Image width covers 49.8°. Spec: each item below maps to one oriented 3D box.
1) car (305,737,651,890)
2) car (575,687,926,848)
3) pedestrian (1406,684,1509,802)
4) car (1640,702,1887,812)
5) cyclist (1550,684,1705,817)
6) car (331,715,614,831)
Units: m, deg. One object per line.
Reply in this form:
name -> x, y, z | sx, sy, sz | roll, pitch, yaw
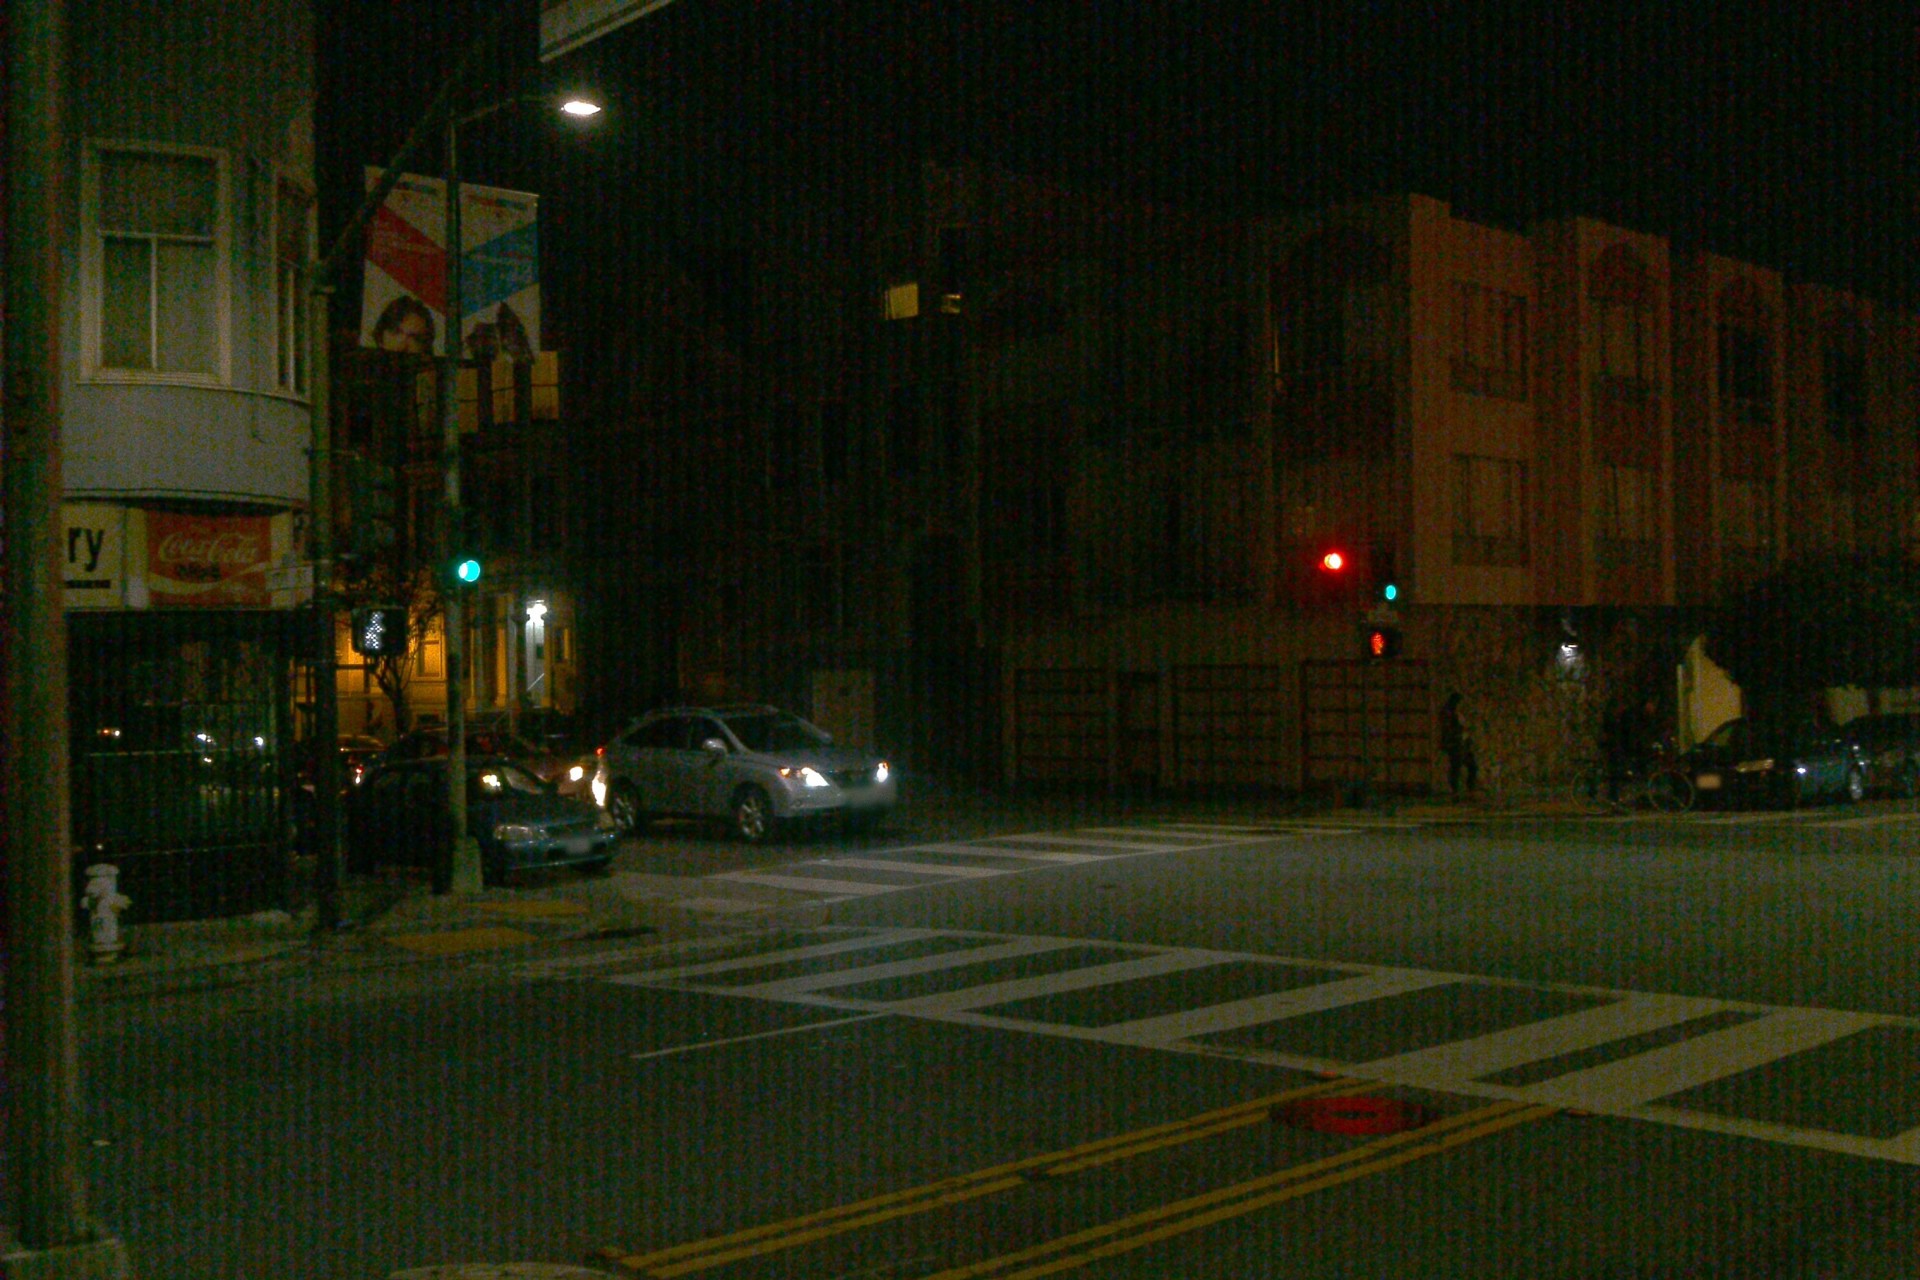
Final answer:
car -> -5.661, 1.931, 23.952 | 1.946, 1.350, 4.278 | 1, 0, -45
car -> -2.830, 1.585, 27.129 | 2.139, 1.760, 4.613 | 1, 0, -44
pedestrian -> 7.507, 1.531, 31.180 | 1.175, 1.690, 0.935 | 1, 0, 43
car -> 12.416, 1.732, 31.764 | 1.967, 1.430, 4.633 | 1, 0, 42
cyclist -> 9.406, 1.528, 29.126 | 1.895, 1.760, 0.832 | 1, 0, 30
car -> -7.575, 1.989, 31.876 | 4.459, 1.450, 2.125 | 1, 0, 44
